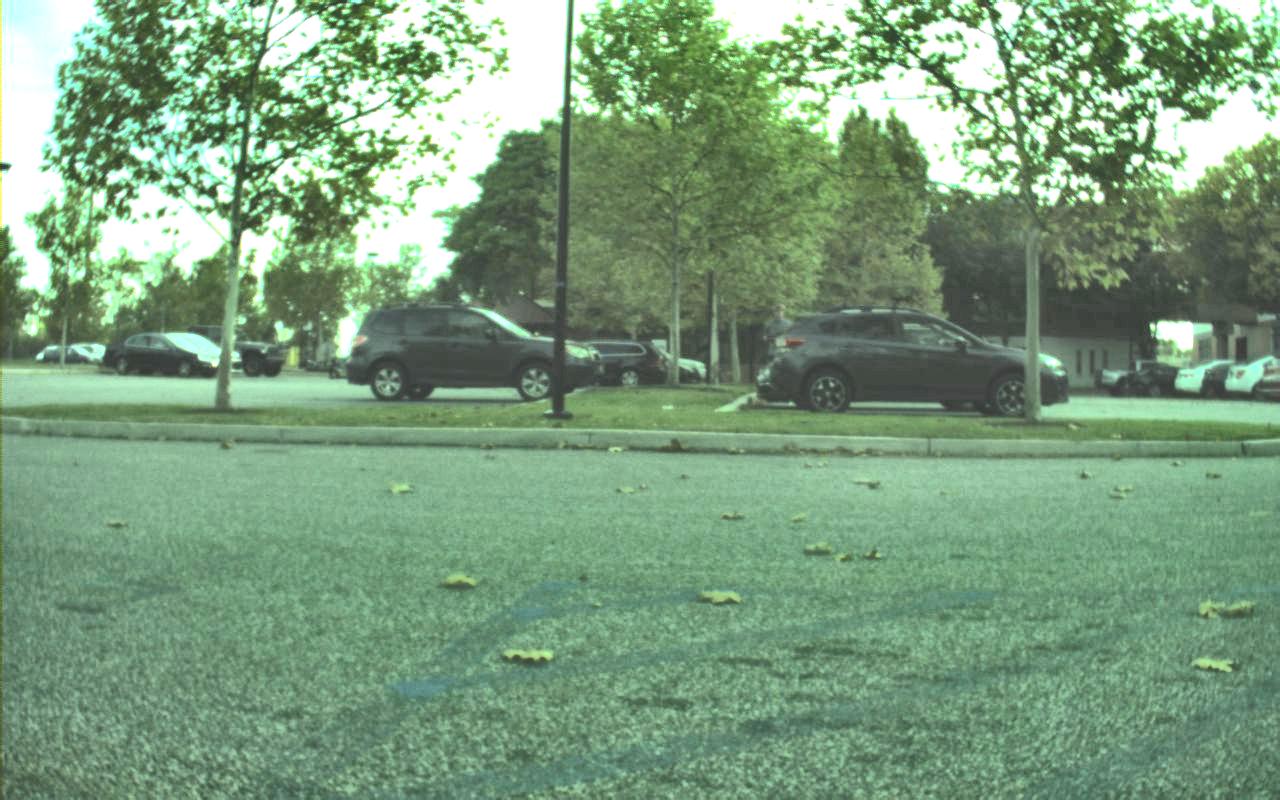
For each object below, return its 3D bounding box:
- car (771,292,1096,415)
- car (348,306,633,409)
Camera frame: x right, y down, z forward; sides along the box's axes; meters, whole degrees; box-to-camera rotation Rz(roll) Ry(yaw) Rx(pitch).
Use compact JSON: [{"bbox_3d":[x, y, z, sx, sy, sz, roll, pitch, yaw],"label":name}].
[{"bbox_3d":[4.256,-0.654,18.190,4.663,1.686,1.985,1,1,6],"label":"car"},{"bbox_3d":[-2.608,-0.753,22.121,4.701,1.713,2.006,1,1,7],"label":"car"}]
